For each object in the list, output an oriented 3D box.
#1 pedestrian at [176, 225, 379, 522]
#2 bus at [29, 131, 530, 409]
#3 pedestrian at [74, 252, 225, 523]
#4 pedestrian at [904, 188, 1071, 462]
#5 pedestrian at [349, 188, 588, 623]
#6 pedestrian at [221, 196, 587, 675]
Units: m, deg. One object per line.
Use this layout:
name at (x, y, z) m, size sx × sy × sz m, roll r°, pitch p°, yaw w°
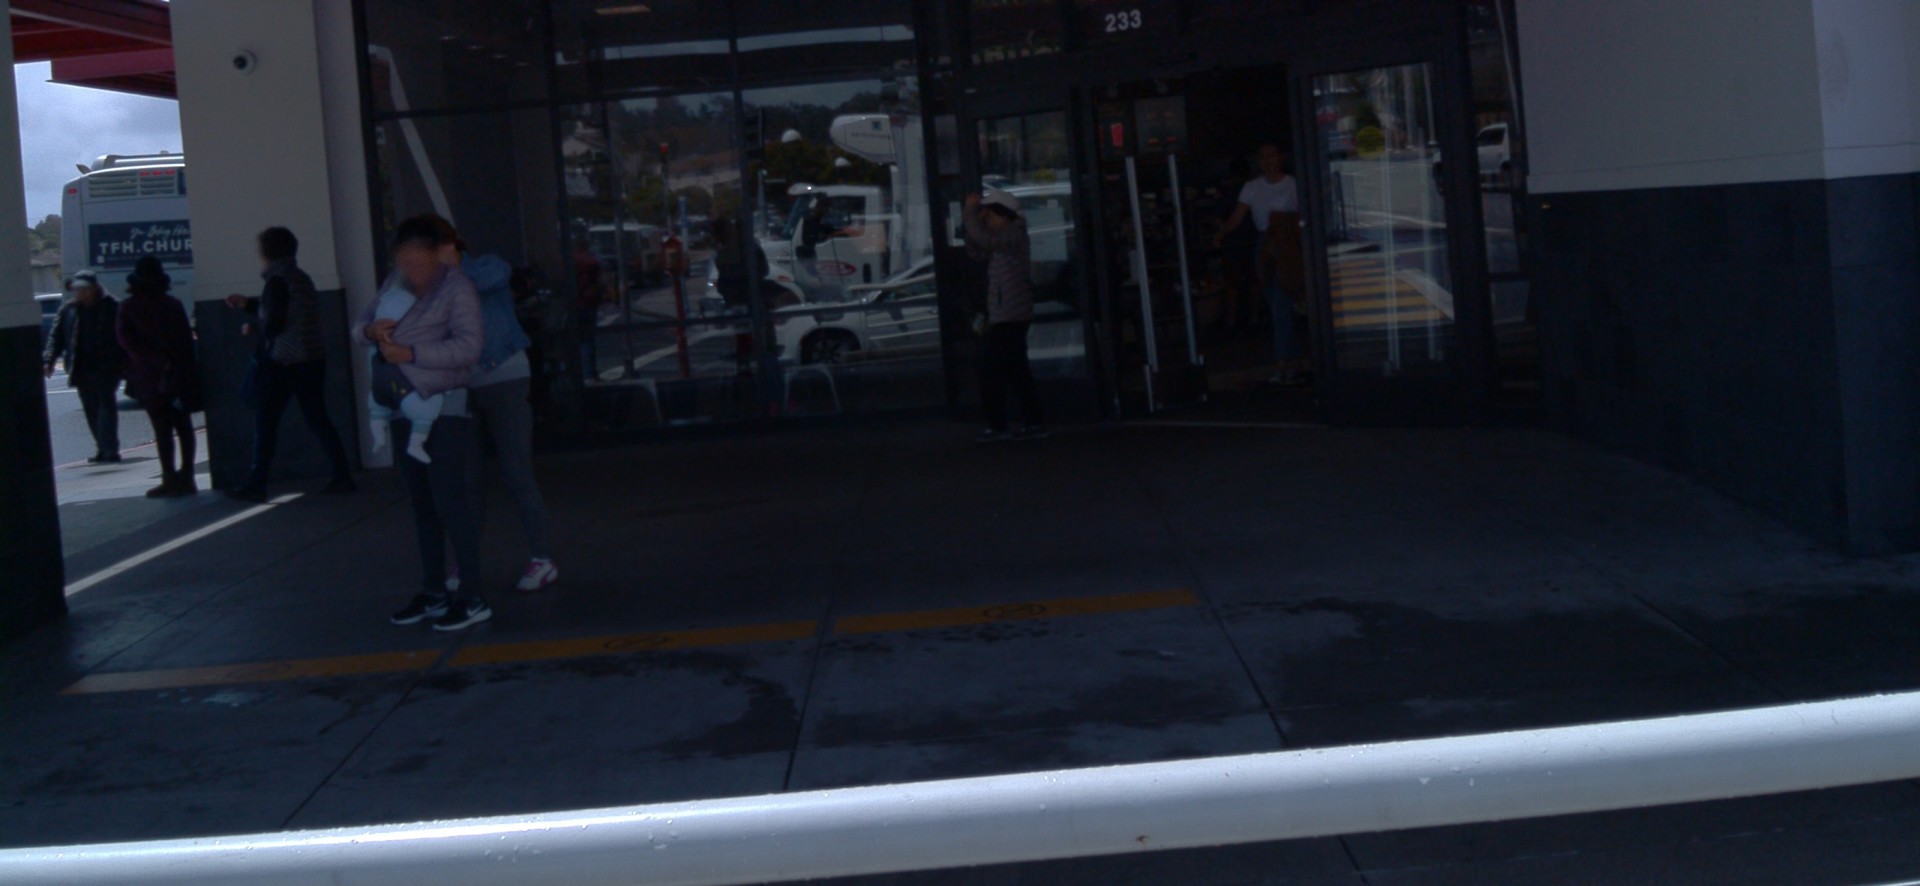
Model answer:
pedestrian at (-4.044, -0.445, 12.233) m, size 0.832 × 1.699 × 0.888 m, roll 0°, pitch 1°, yaw 8°
bus at (-9.928, -2.884, 32.788) m, size 3.021 × 3.394 × 15.307 m, roll 0°, pitch 5°, yaw 0°
pedestrian at (-5.276, -0.395, 13.363) m, size 0.815 × 1.679 × 0.819 m, roll -1°, pitch 1°, yaw -28°
pedestrian at (0.183, -0.731, 12.337) m, size 0.965 × 1.579 × 0.958 m, roll 0°, pitch 2°, yaw 3°
pedestrian at (-1.997, -0.194, 8.459) m, size 0.823 × 1.689 × 0.883 m, roll 0°, pitch 1°, yaw -4°
pedestrian at (-2.078, -0.081, 7.843) m, size 1.072 × 1.699 × 1.067 m, roll 0°, pitch 2°, yaw 2°
